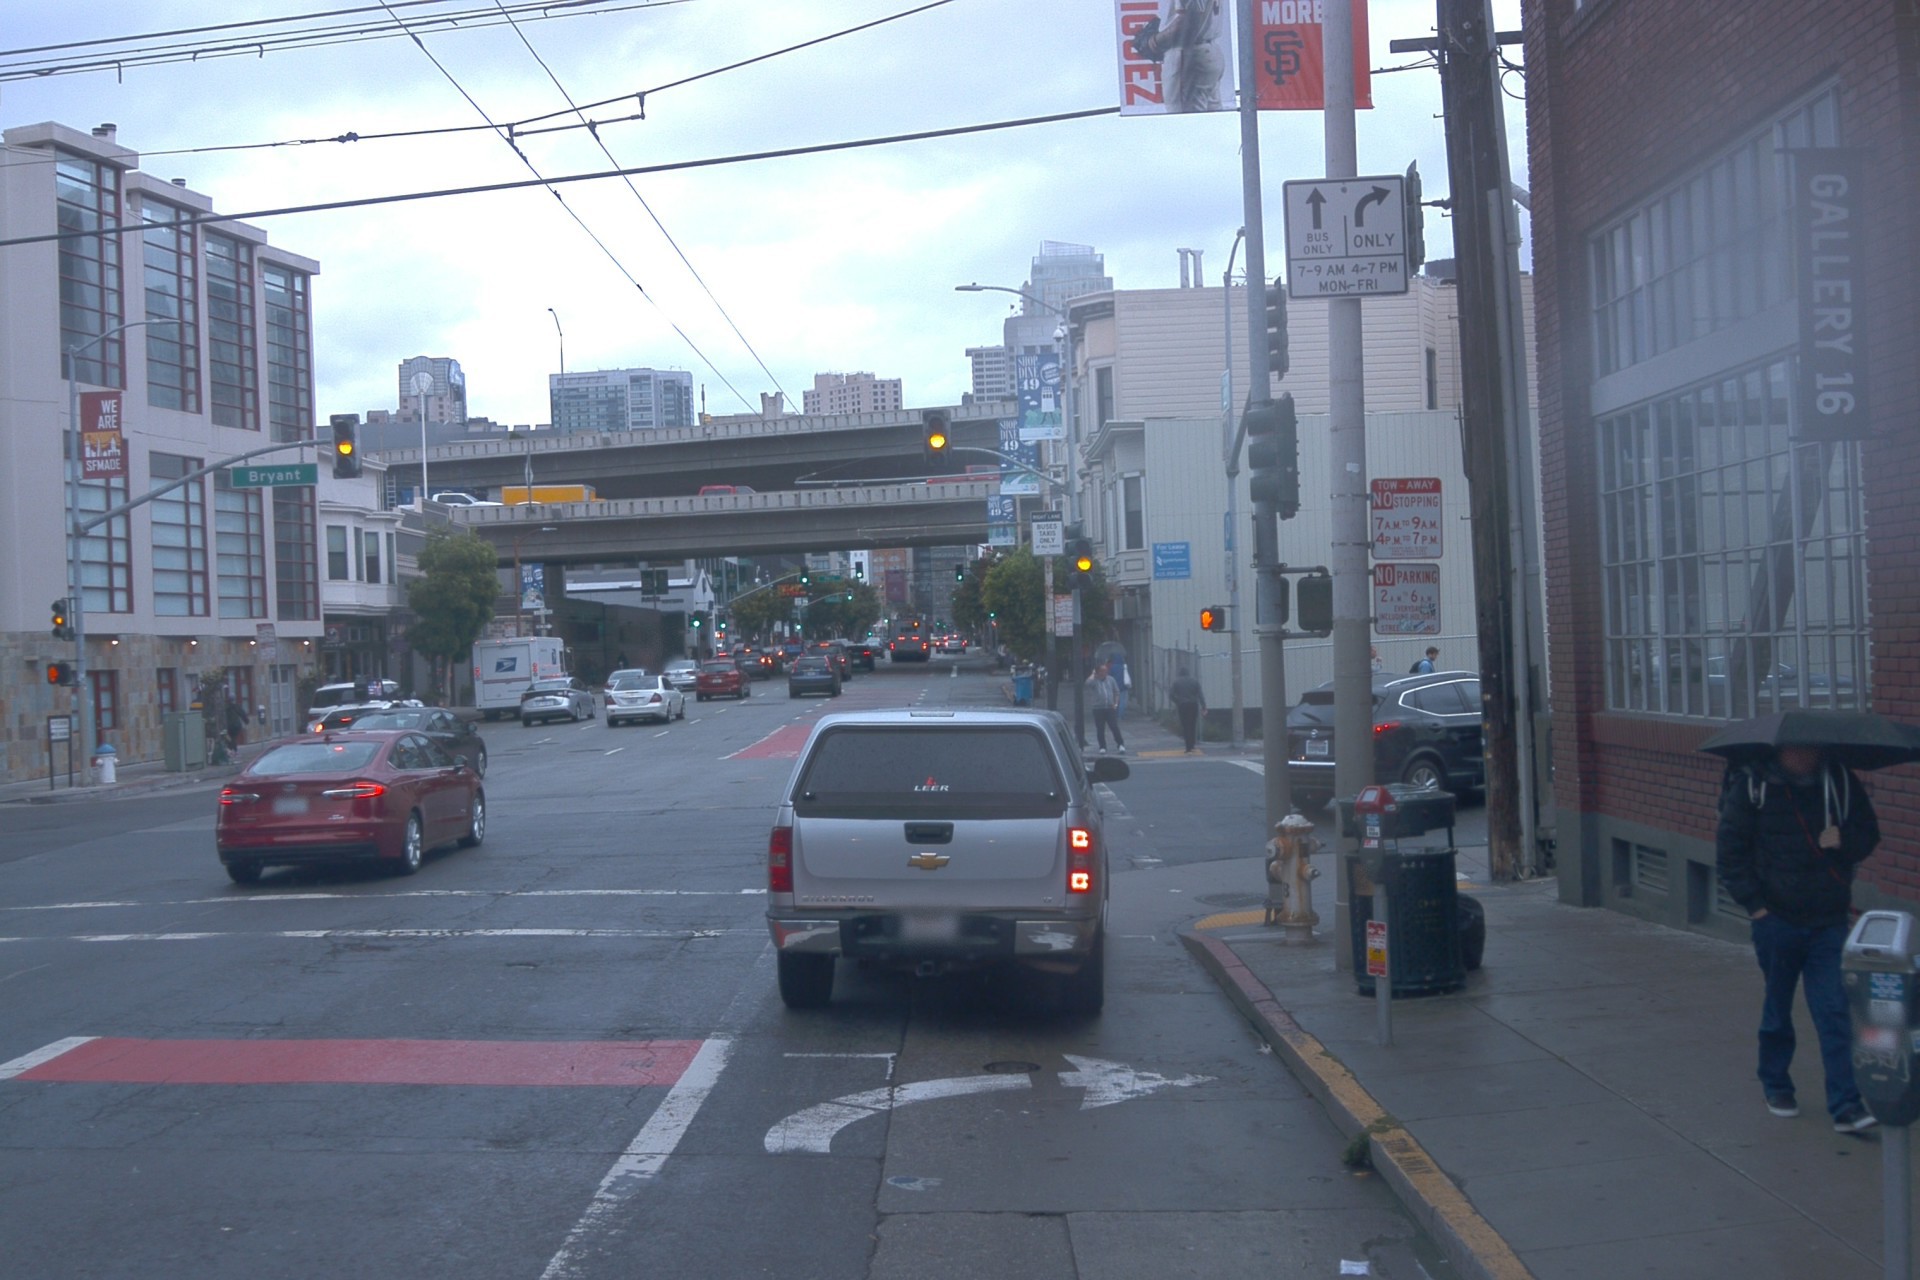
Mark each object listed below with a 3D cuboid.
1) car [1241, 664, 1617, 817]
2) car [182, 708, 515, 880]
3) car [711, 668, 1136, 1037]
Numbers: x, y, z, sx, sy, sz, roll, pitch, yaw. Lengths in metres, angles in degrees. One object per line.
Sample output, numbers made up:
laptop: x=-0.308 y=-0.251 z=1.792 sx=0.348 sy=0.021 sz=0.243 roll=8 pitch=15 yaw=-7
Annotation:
car: x=5.651 y=1.124 z=24.784 sx=4.396 sy=1.670 sz=2.023 roll=0 pitch=-1 yaw=-37
car: x=-6.351 y=1.547 z=22.208 sx=2.112 sy=1.530 sz=4.957 roll=0 pitch=-1 yaw=0
car: x=0.015 y=1.236 z=14.496 sx=2.410 sy=2.070 sz=5.549 roll=0 pitch=-1 yaw=5
